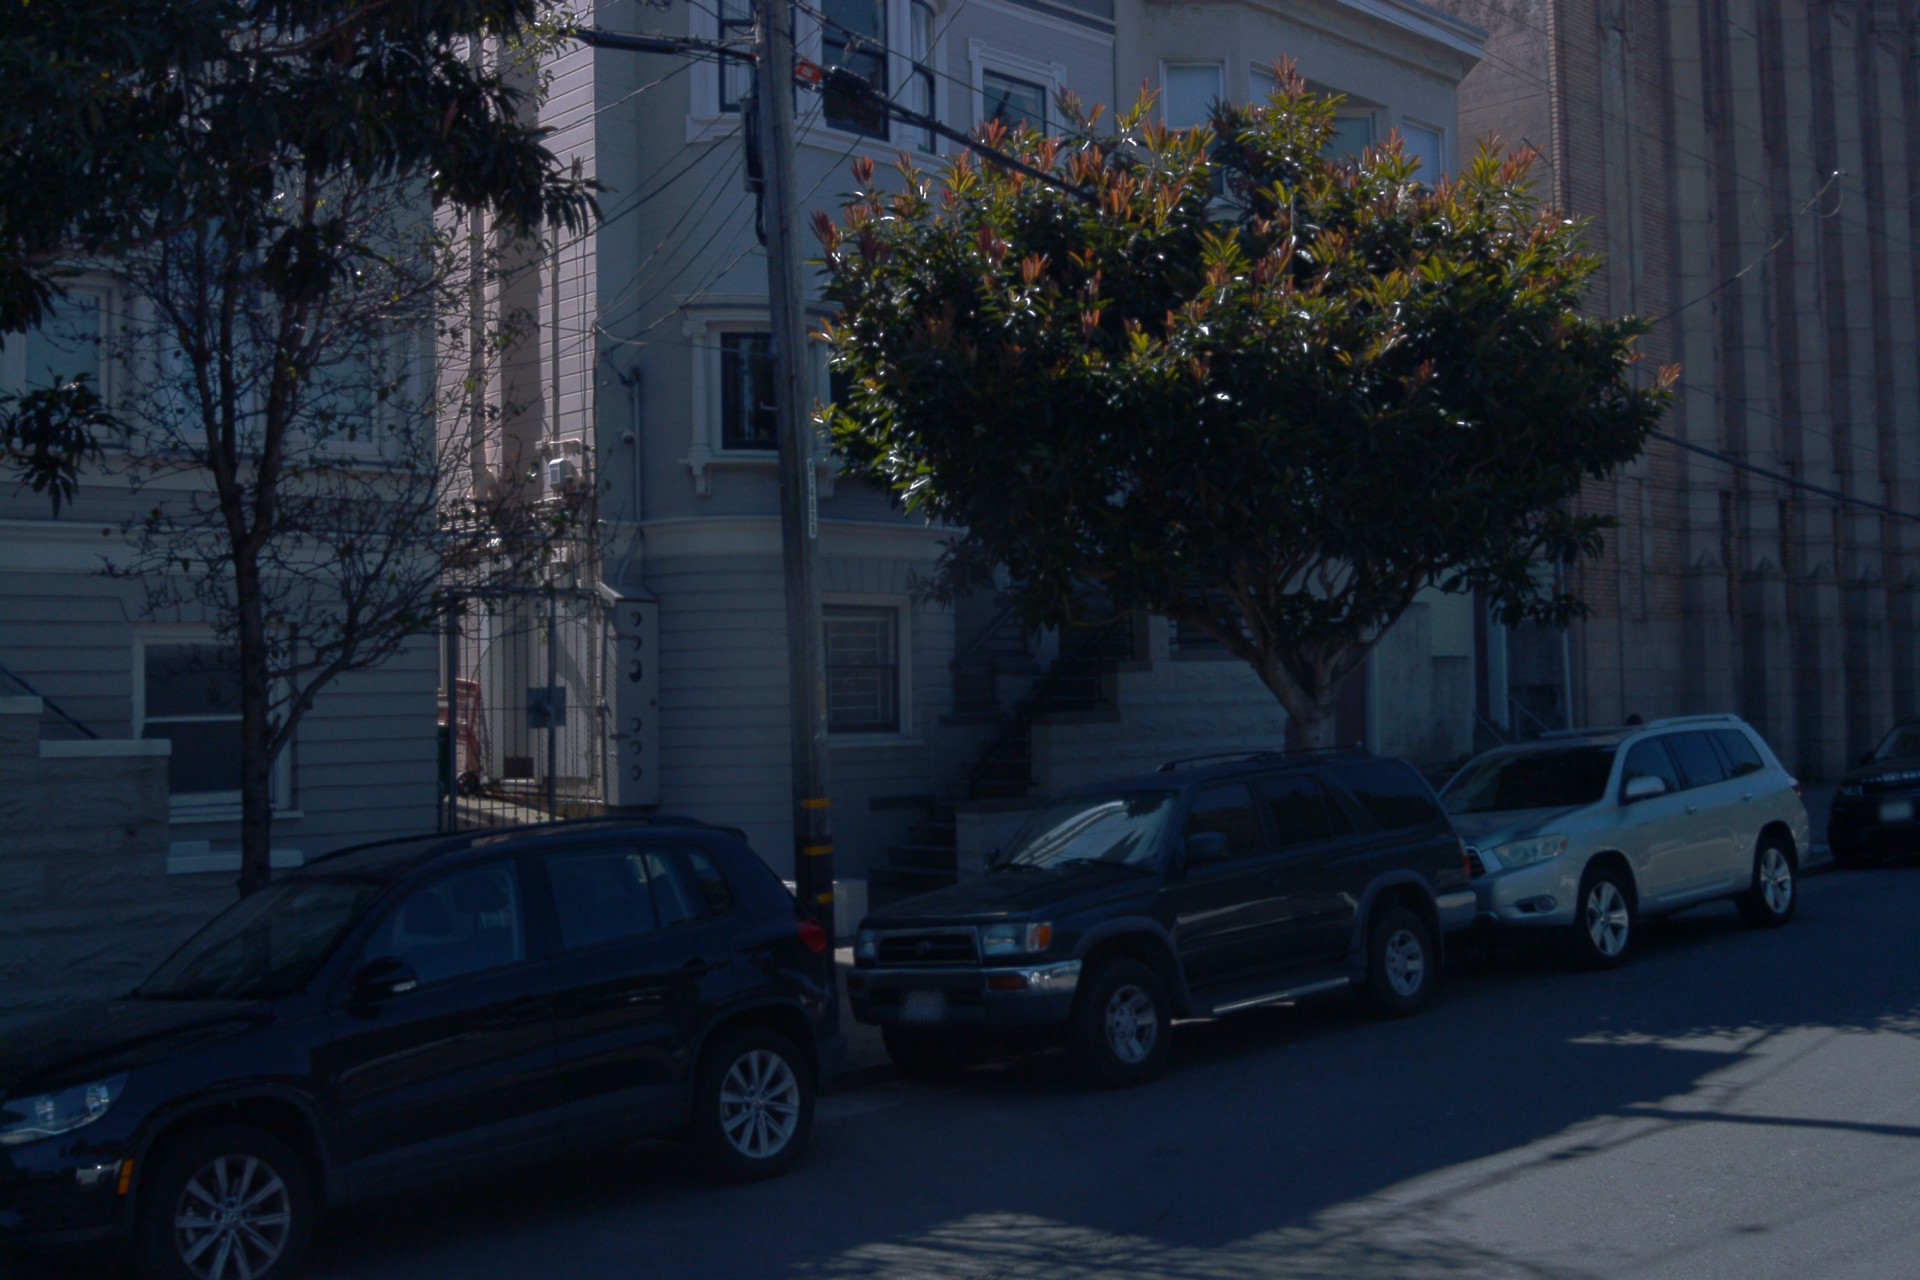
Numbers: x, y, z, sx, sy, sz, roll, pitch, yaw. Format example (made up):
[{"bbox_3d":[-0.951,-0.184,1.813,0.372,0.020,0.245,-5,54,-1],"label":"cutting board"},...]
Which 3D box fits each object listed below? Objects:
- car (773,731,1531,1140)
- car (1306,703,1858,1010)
[{"bbox_3d":[1.351,1.594,12.714,4.770,1.780,2.007,-1,1,-43],"label":"car"},{"bbox_3d":[5.012,1.523,16.154,4.842,1.840,2.025,-1,1,-44],"label":"car"}]
